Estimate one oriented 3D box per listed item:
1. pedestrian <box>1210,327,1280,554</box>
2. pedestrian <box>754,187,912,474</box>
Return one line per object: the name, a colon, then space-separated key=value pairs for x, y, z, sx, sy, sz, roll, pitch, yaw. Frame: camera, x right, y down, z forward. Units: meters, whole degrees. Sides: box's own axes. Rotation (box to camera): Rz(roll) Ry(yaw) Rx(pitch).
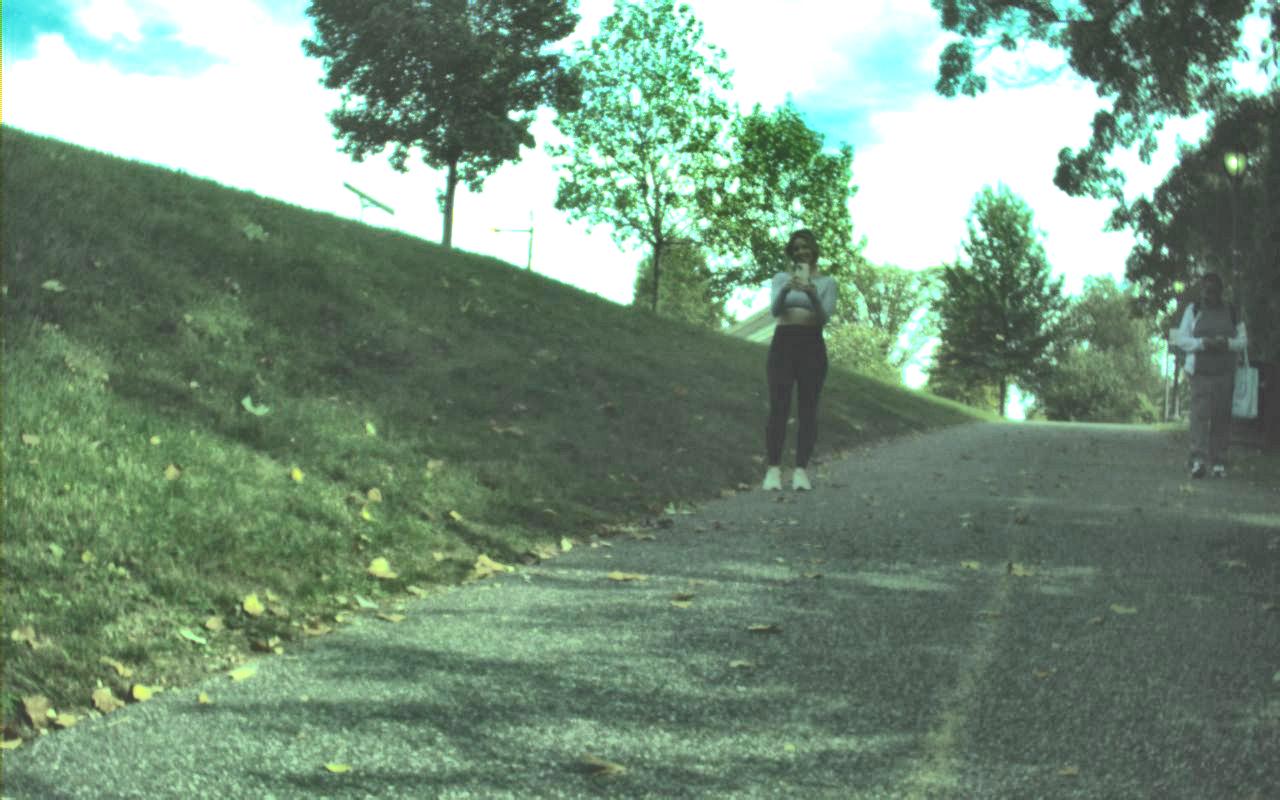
pedestrian: x=5.044 y=0.334 z=9.032 sx=0.873 sy=1.747 sz=0.896 roll=1 pitch=0 yaw=18
pedestrian: x=1.159 y=-0.405 z=7.630 sx=0.848 sy=1.655 sz=0.803 roll=0 pitch=0 yaw=-1
